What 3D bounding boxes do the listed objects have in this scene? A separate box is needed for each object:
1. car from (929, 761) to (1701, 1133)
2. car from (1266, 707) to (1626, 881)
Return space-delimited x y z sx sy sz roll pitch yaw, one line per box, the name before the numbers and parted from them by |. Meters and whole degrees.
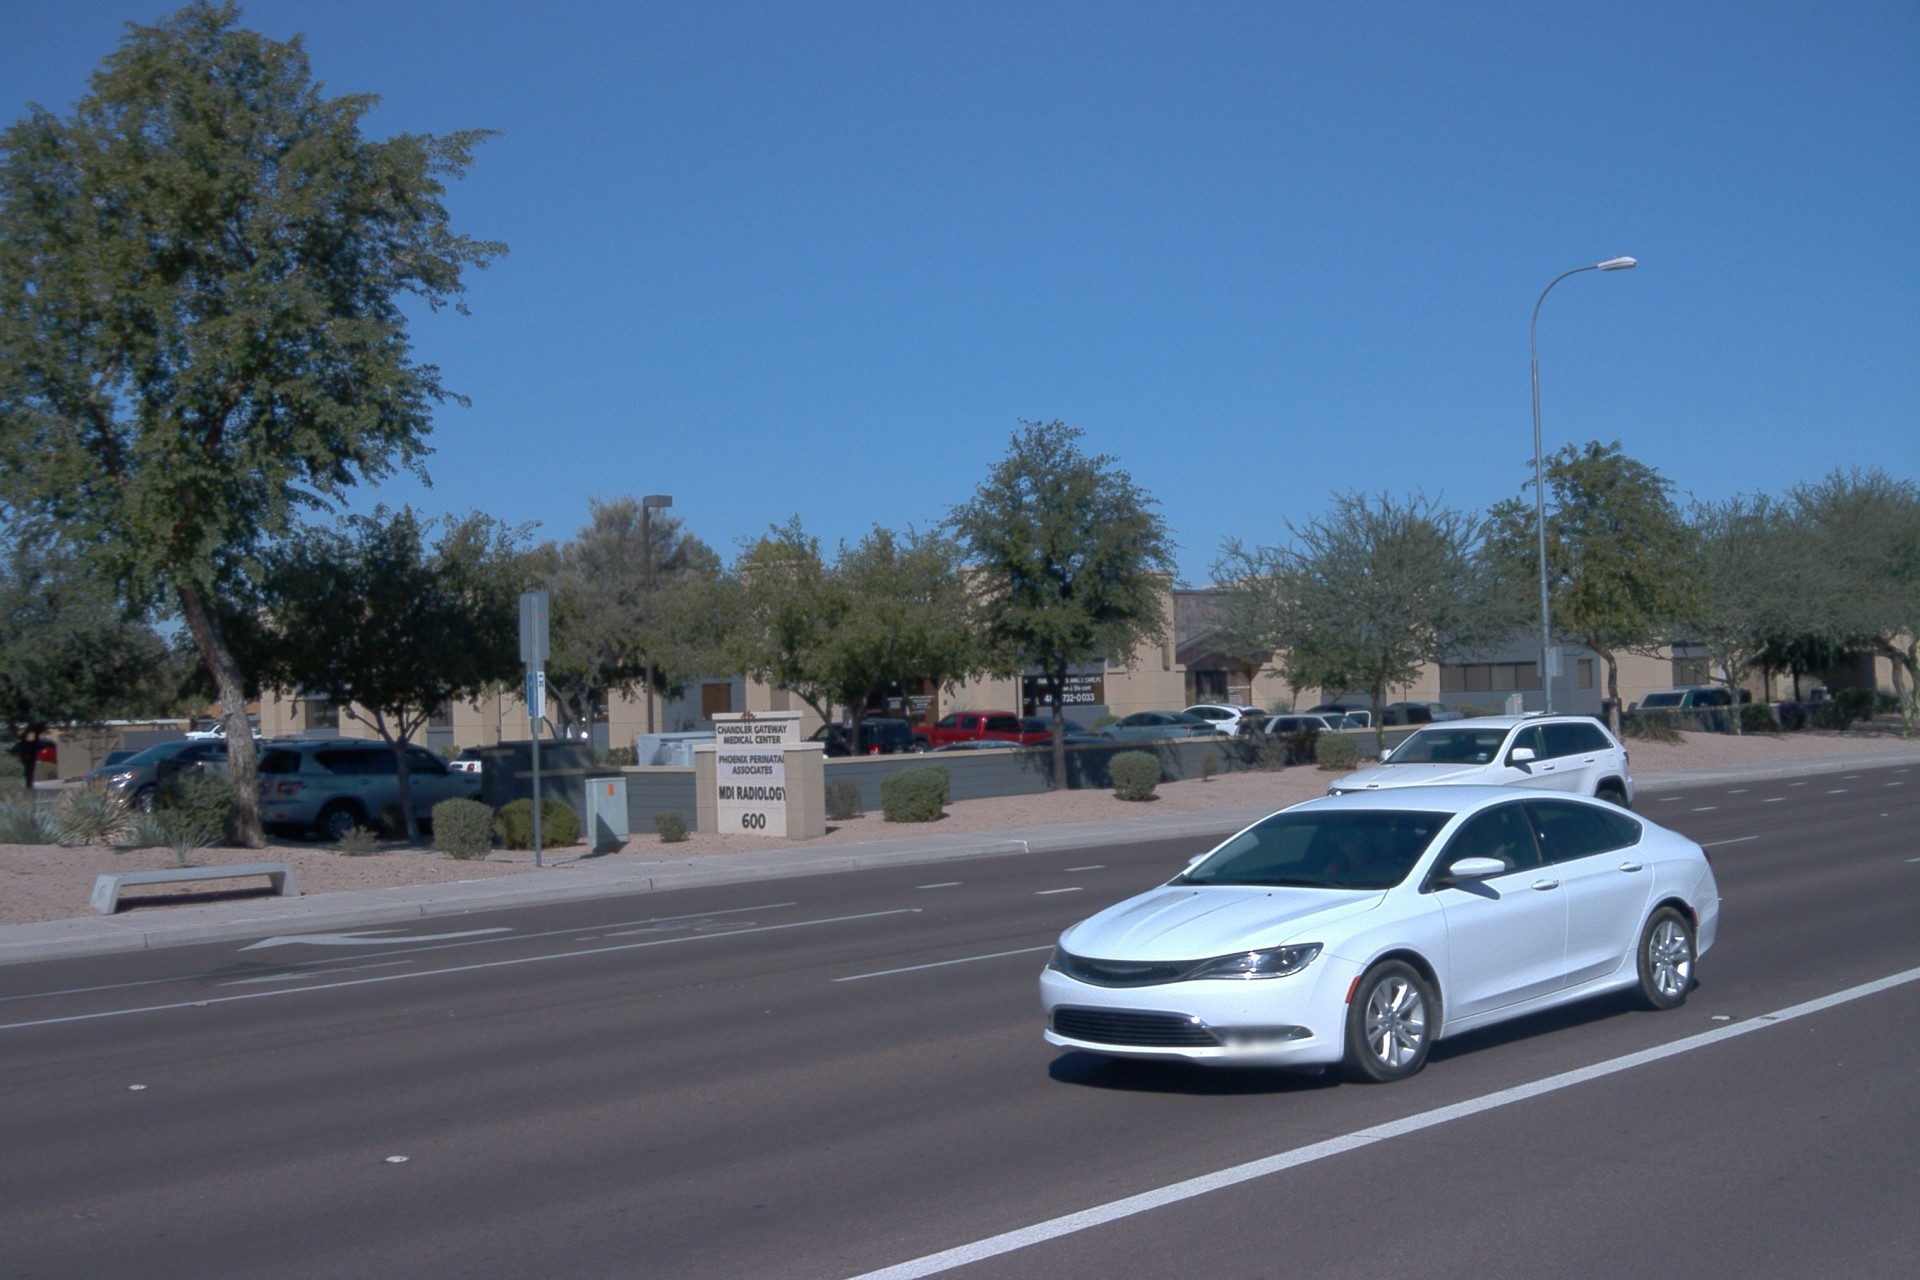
car | 2.235 1.582 12.134 4.664 1.470 2.062 0 0 -44
car | 6.142 1.820 25.981 4.743 1.820 2.144 0 0 -44
